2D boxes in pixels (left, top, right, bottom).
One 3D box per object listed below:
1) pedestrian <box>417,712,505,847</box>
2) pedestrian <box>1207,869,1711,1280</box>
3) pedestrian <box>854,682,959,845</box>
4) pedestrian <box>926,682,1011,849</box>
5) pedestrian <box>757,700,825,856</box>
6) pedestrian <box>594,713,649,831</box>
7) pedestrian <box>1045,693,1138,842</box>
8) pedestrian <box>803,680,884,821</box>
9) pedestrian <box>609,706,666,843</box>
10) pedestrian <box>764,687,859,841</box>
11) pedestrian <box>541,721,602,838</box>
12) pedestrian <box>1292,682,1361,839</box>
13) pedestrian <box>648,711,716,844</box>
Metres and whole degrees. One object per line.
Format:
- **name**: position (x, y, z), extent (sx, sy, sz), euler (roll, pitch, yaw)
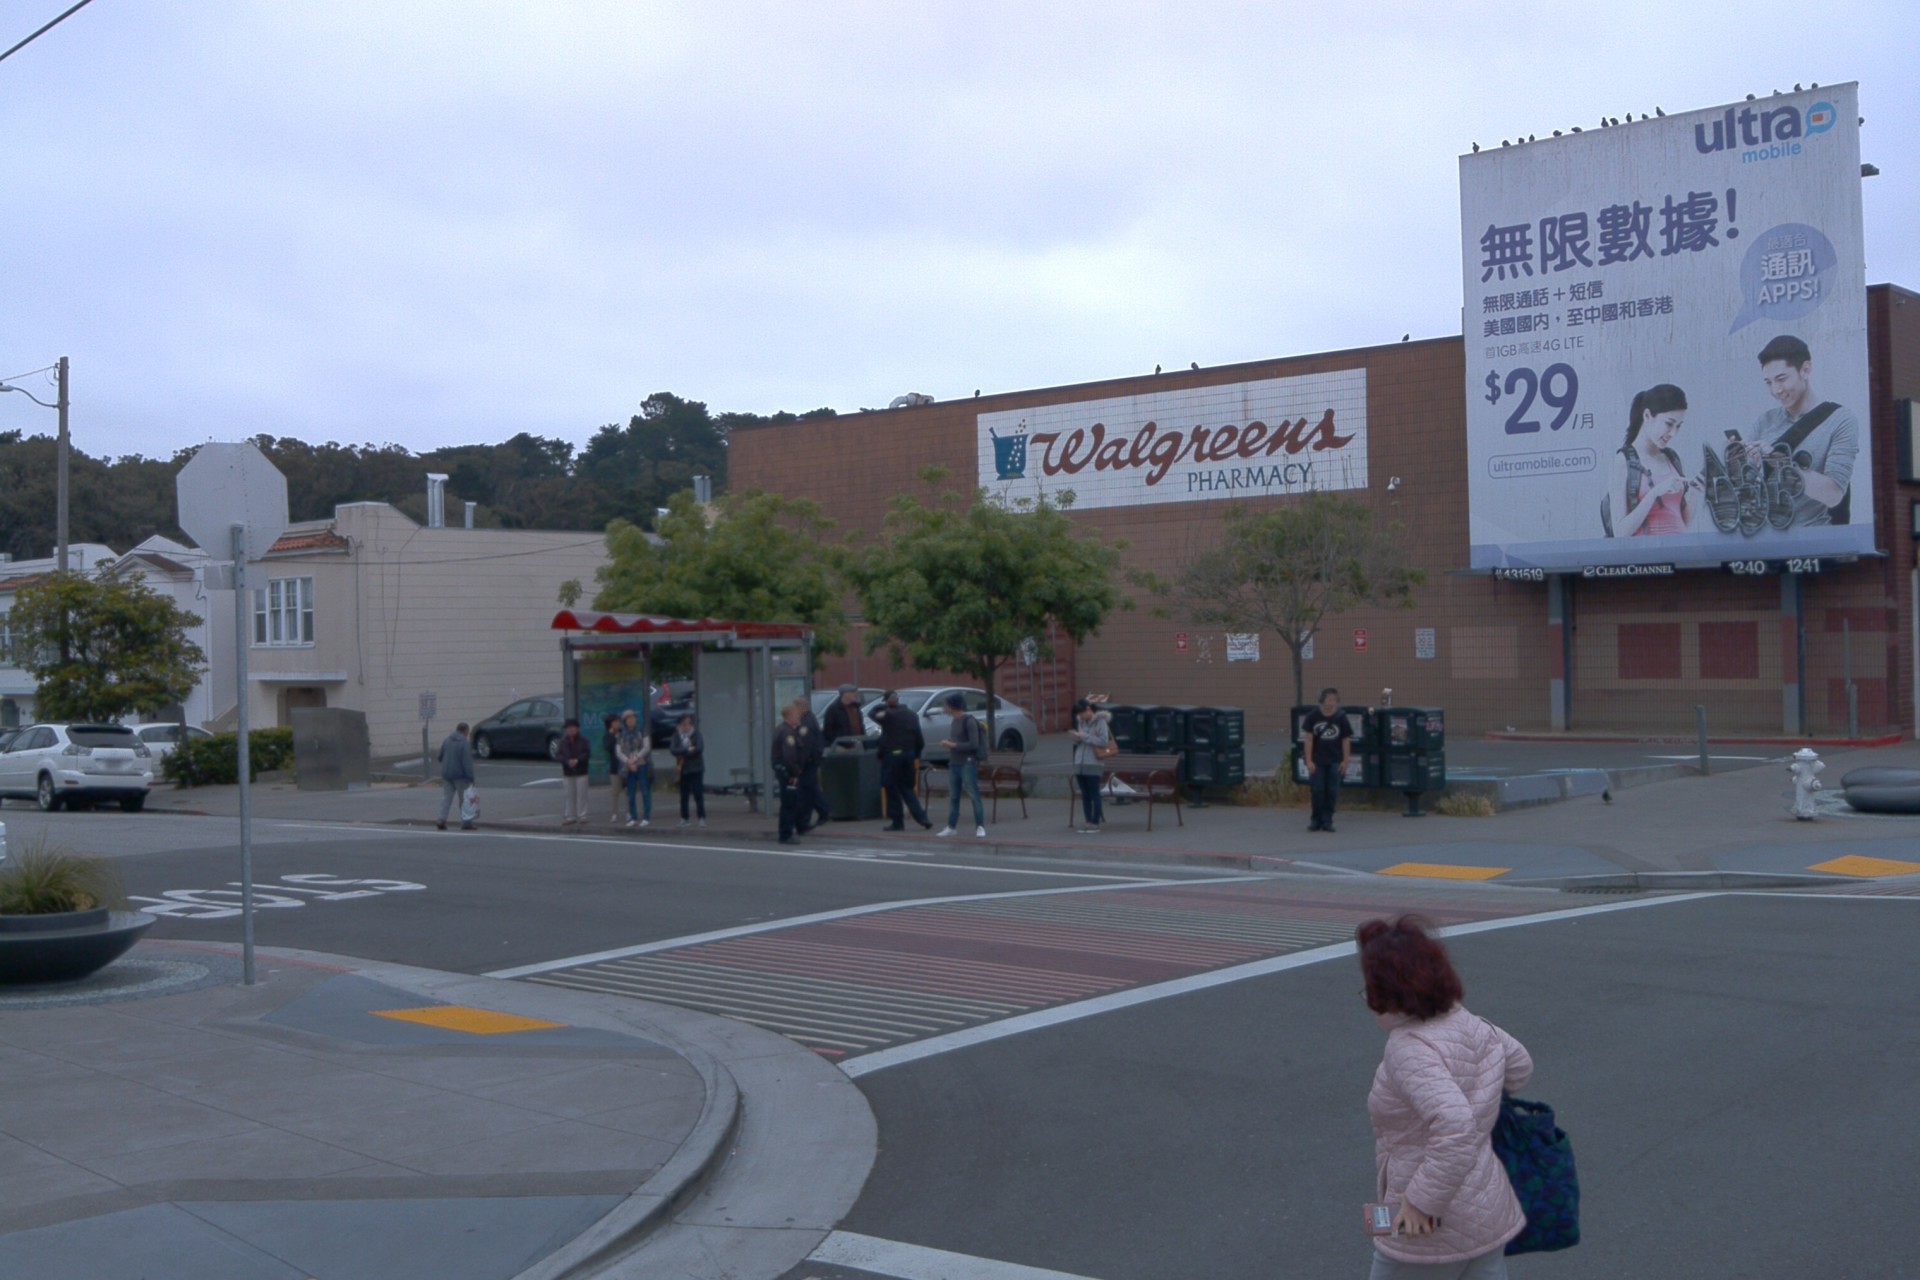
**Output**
- **pedestrian**: position (-7.274, 2.024, 30.113), extent (0.924, 1.880, 0.869), euler (0, 1, 15)
- **pedestrian**: position (1.203, 1.367, 4.948), extent (0.848, 1.479, 0.913), euler (1, 1, 40)
- **pedestrian**: position (-0.671, 1.511, 25.731), extent (0.996, 1.930, 0.953), euler (-1, 1, -29)
- **pedestrian**: position (0.103, 1.479, 24.630), extent (0.667, 1.910, 0.872), euler (-1, 1, -30)
- **pedestrian**: position (-2.082, 1.694, 25.566), extent (0.811, 1.841, 0.986), euler (0, 1, -3)
- **pedestrian**: position (-4.844, 1.879, 29.558), extent (0.684, 1.635, 0.709), euler (0, 1, -3)
- **pedestrian**: position (1.561, 1.493, 24.515), extent (0.872, 1.690, 0.667), euler (1, 1, 40)
- **pedestrian**: position (-1.664, 1.564, 29.456), extent (0.921, 1.935, 0.825), euler (0, 1, -23)
- **pedestrian**: position (-4.457, 1.849, 28.553), extent (0.760, 1.830, 0.681), euler (0, 1, -8)
- **pedestrian**: position (-1.923, 1.584, 26.815), extent (0.843, 1.910, 0.939), euler (1, 1, 30)
- **pedestrian**: position (-5.575, 1.997, 29.667), extent (0.683, 1.610, 0.710), euler (0, 1, 6)
- **pedestrian**: position (4.190, 1.359, 23.579), extent (0.725, 1.730, 0.737), euler (0, 1, 13)
- **pedestrian**: position (-3.772, 1.844, 27.943), extent (0.686, 1.730, 0.706), euler (-1, 1, -31)
